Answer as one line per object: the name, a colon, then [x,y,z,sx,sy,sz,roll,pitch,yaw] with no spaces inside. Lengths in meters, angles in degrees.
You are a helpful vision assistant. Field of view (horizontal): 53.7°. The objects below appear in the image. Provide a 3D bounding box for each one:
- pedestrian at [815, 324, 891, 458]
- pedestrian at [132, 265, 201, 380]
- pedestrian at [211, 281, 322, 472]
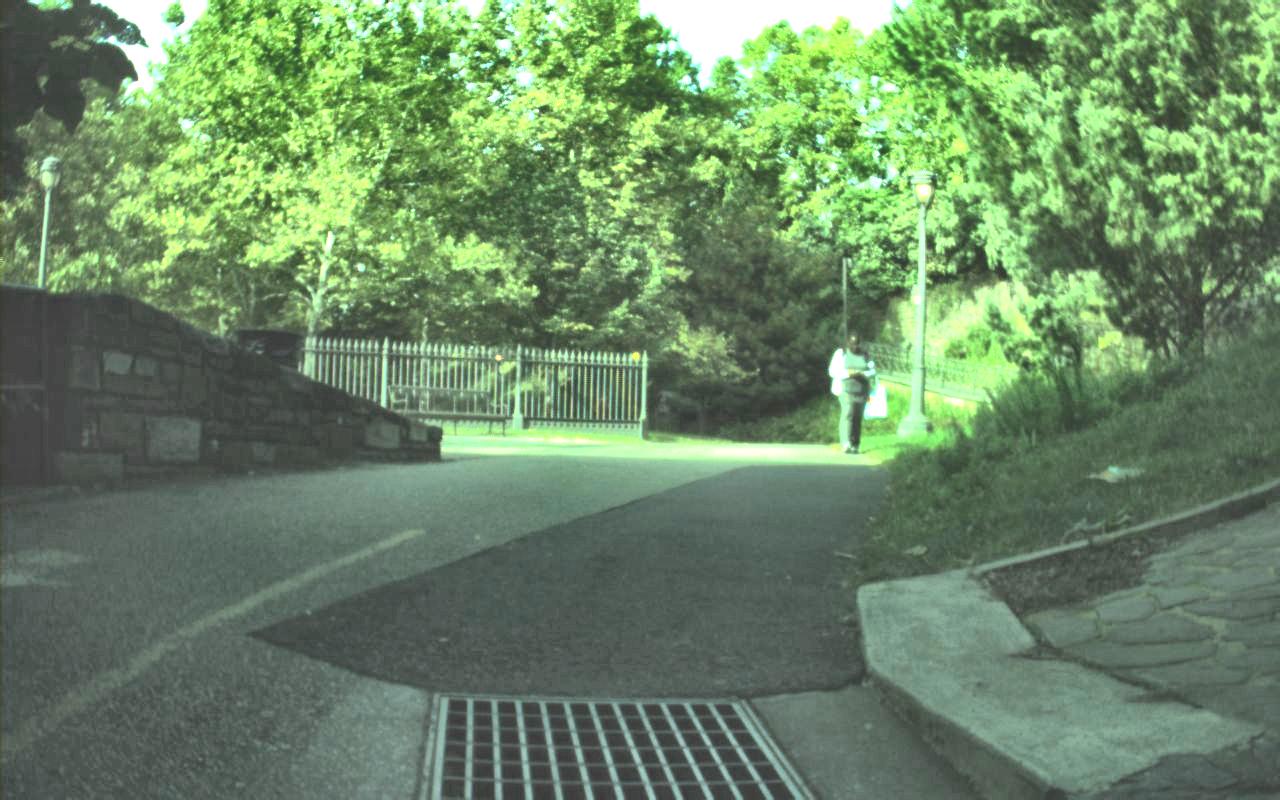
pedestrian: [2.865,-0.122,16.898,0.815,1.747,0.835,0,0,-7]
pedestrian: [-7.350,-1.157,18.324,0.803,1.741,0.778,0,0,14]
pedestrian: [-3.267,-0.199,10.607,0.784,1.592,0.800,0,0,1]
